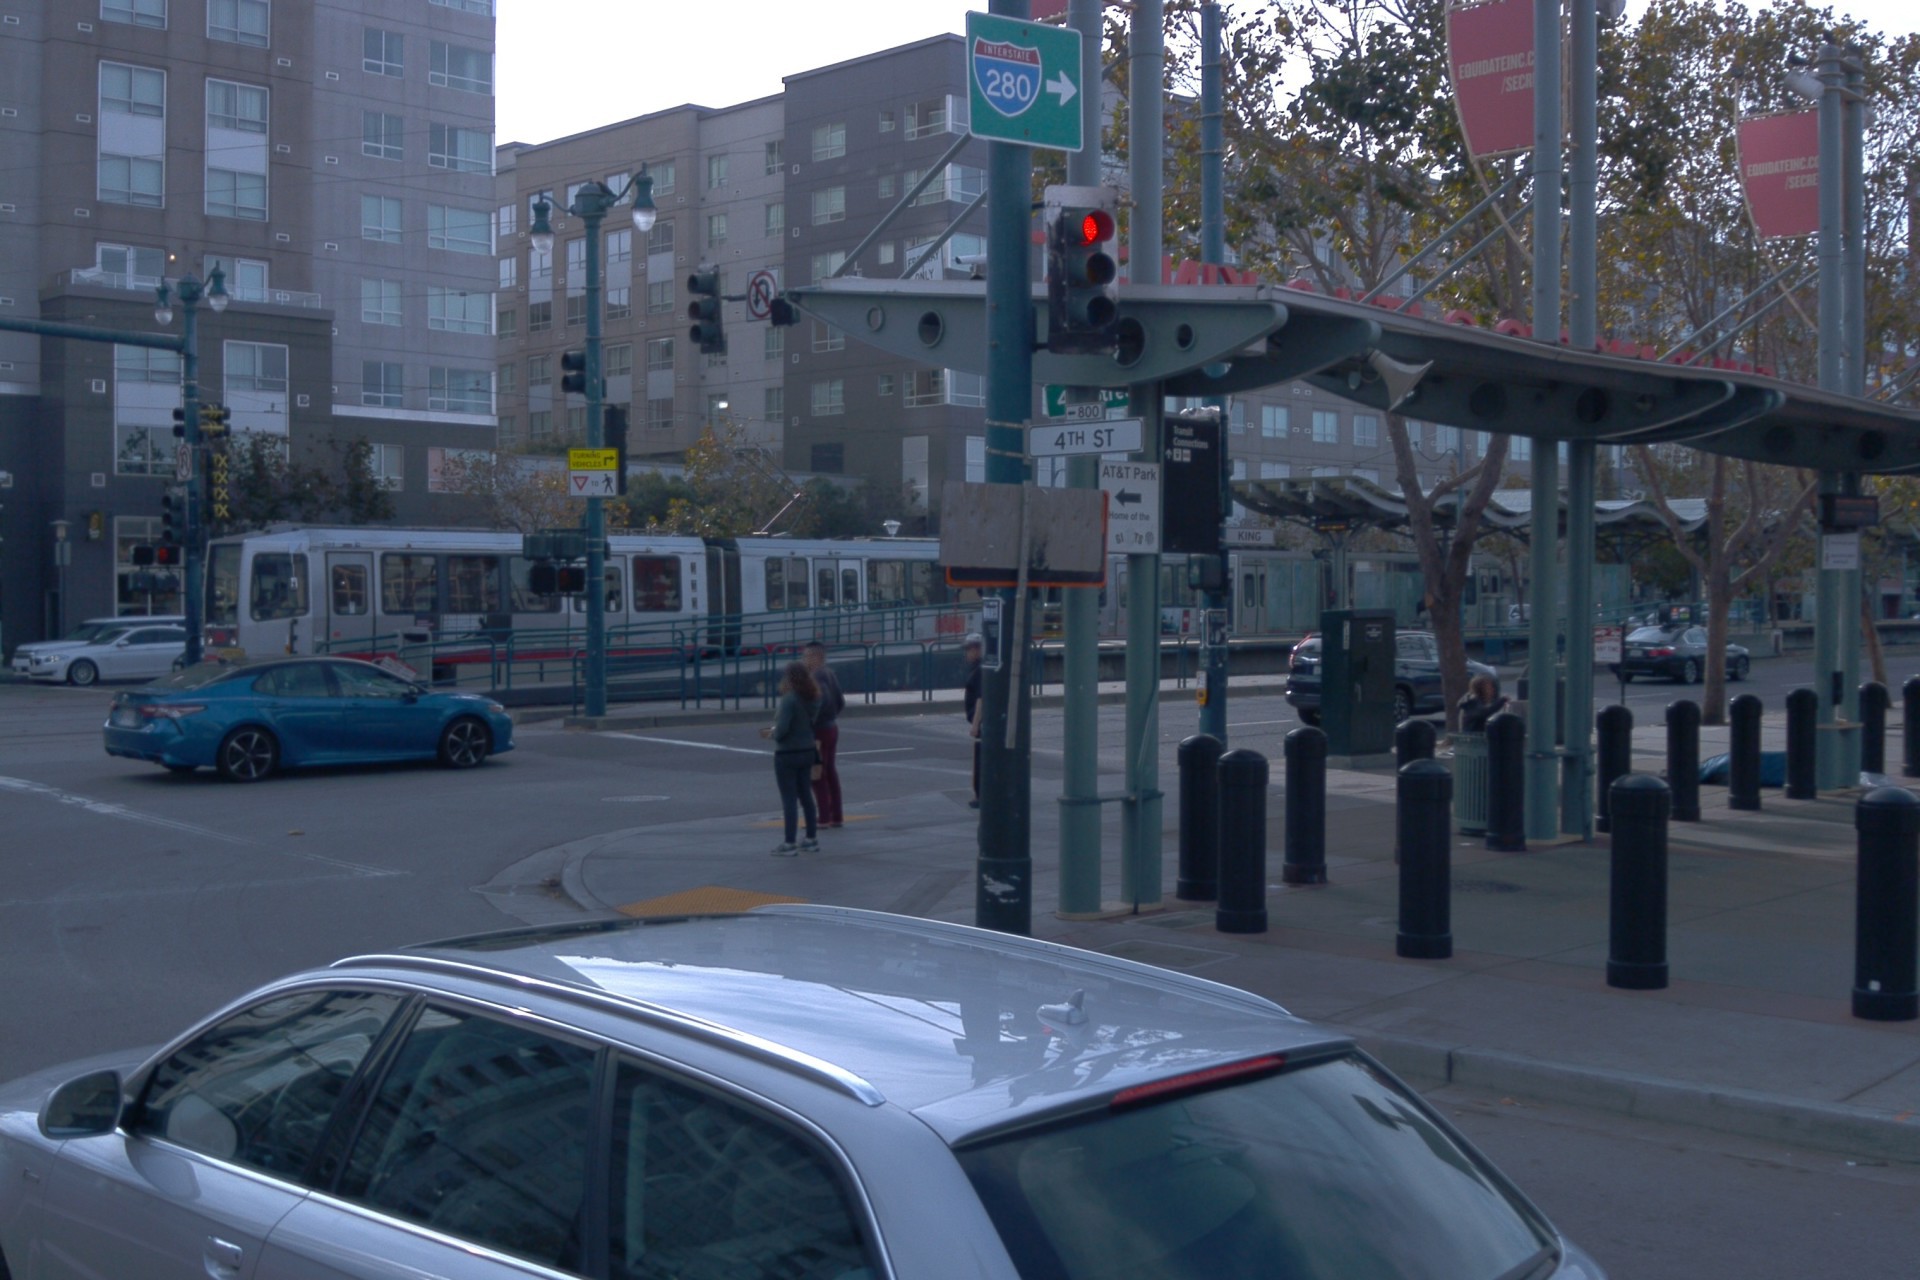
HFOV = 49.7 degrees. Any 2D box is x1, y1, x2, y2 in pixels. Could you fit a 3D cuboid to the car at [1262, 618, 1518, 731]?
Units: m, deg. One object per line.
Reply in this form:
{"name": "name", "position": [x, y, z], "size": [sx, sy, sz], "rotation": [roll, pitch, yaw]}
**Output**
{"name": "car", "position": [7.418, 0.571, 35.450], "size": [4.602, 1.792, 2.059], "rotation": [1, 0, -45]}

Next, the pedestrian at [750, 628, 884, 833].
{"name": "pedestrian", "position": [-1.306, 0.808, 19.075], "size": [0.980, 1.819, 0.928], "rotation": [1, 0, 12]}

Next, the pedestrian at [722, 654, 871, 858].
{"name": "pedestrian", "position": [-1.370, 0.946, 17.343], "size": [1.016, 1.642, 0.678], "rotation": [1, 0, 35]}

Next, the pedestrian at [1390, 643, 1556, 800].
{"name": "pedestrian", "position": [5.461, 0.846, 22.075], "size": [1.218, 1.605, 1.168], "rotation": [1, 0, -32]}

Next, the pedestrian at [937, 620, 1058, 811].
{"name": "pedestrian", "position": [0.381, 0.742, 20.824], "size": [0.867, 1.858, 0.865], "rotation": [1, 0, 31]}

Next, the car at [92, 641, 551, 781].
{"name": "car", "position": [-7.788, 0.825, 25.636], "size": [2.141, 1.540, 4.993], "rotation": [1, 0, 44]}
